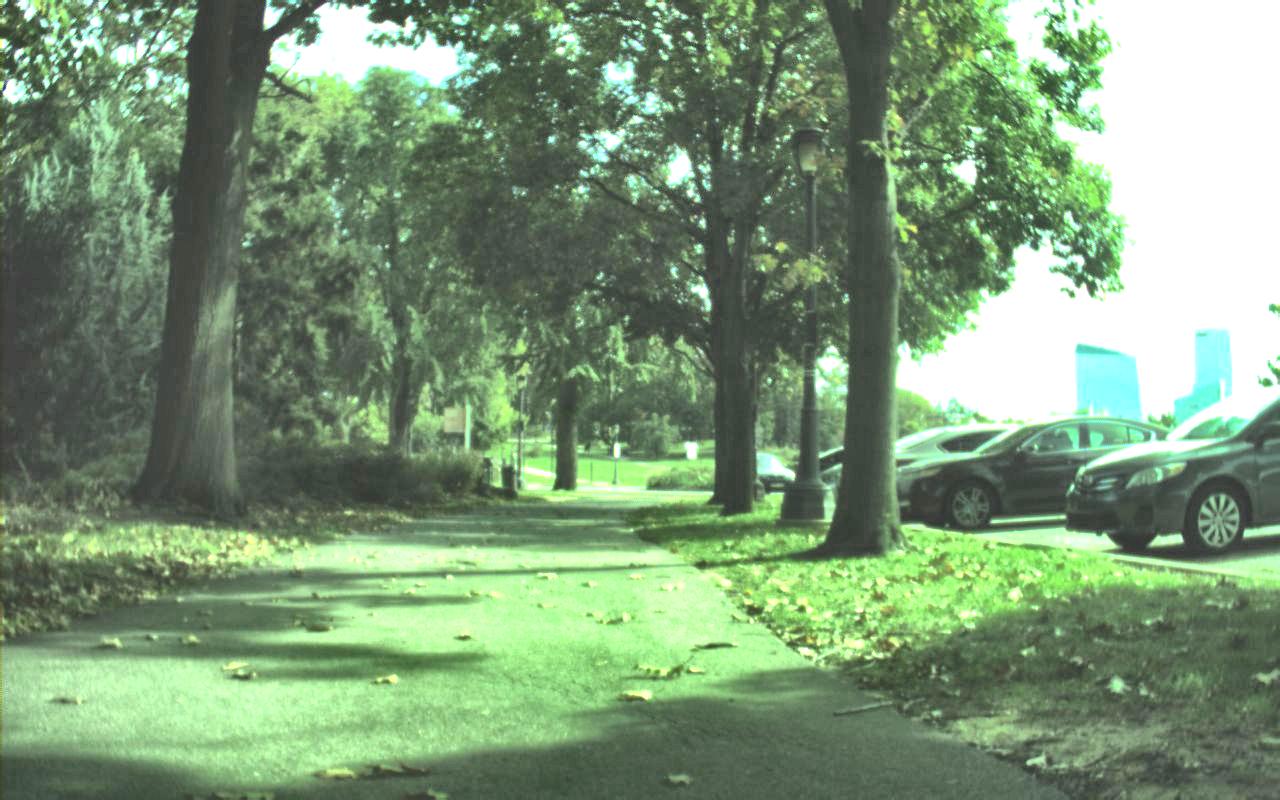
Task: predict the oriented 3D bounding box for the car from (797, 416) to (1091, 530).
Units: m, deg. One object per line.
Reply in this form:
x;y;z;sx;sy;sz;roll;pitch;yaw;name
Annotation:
4.599;1.105;19.064;4.397;1.596;1.949;1;1;7;car

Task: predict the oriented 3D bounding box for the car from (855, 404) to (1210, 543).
5.204;0.911;16.130;4.456;1.616;1.977;0;1;-4;car

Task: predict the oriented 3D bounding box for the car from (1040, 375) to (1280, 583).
5.949;0.621;10.354;4.400;1.605;1.955;0;1;-7;car
